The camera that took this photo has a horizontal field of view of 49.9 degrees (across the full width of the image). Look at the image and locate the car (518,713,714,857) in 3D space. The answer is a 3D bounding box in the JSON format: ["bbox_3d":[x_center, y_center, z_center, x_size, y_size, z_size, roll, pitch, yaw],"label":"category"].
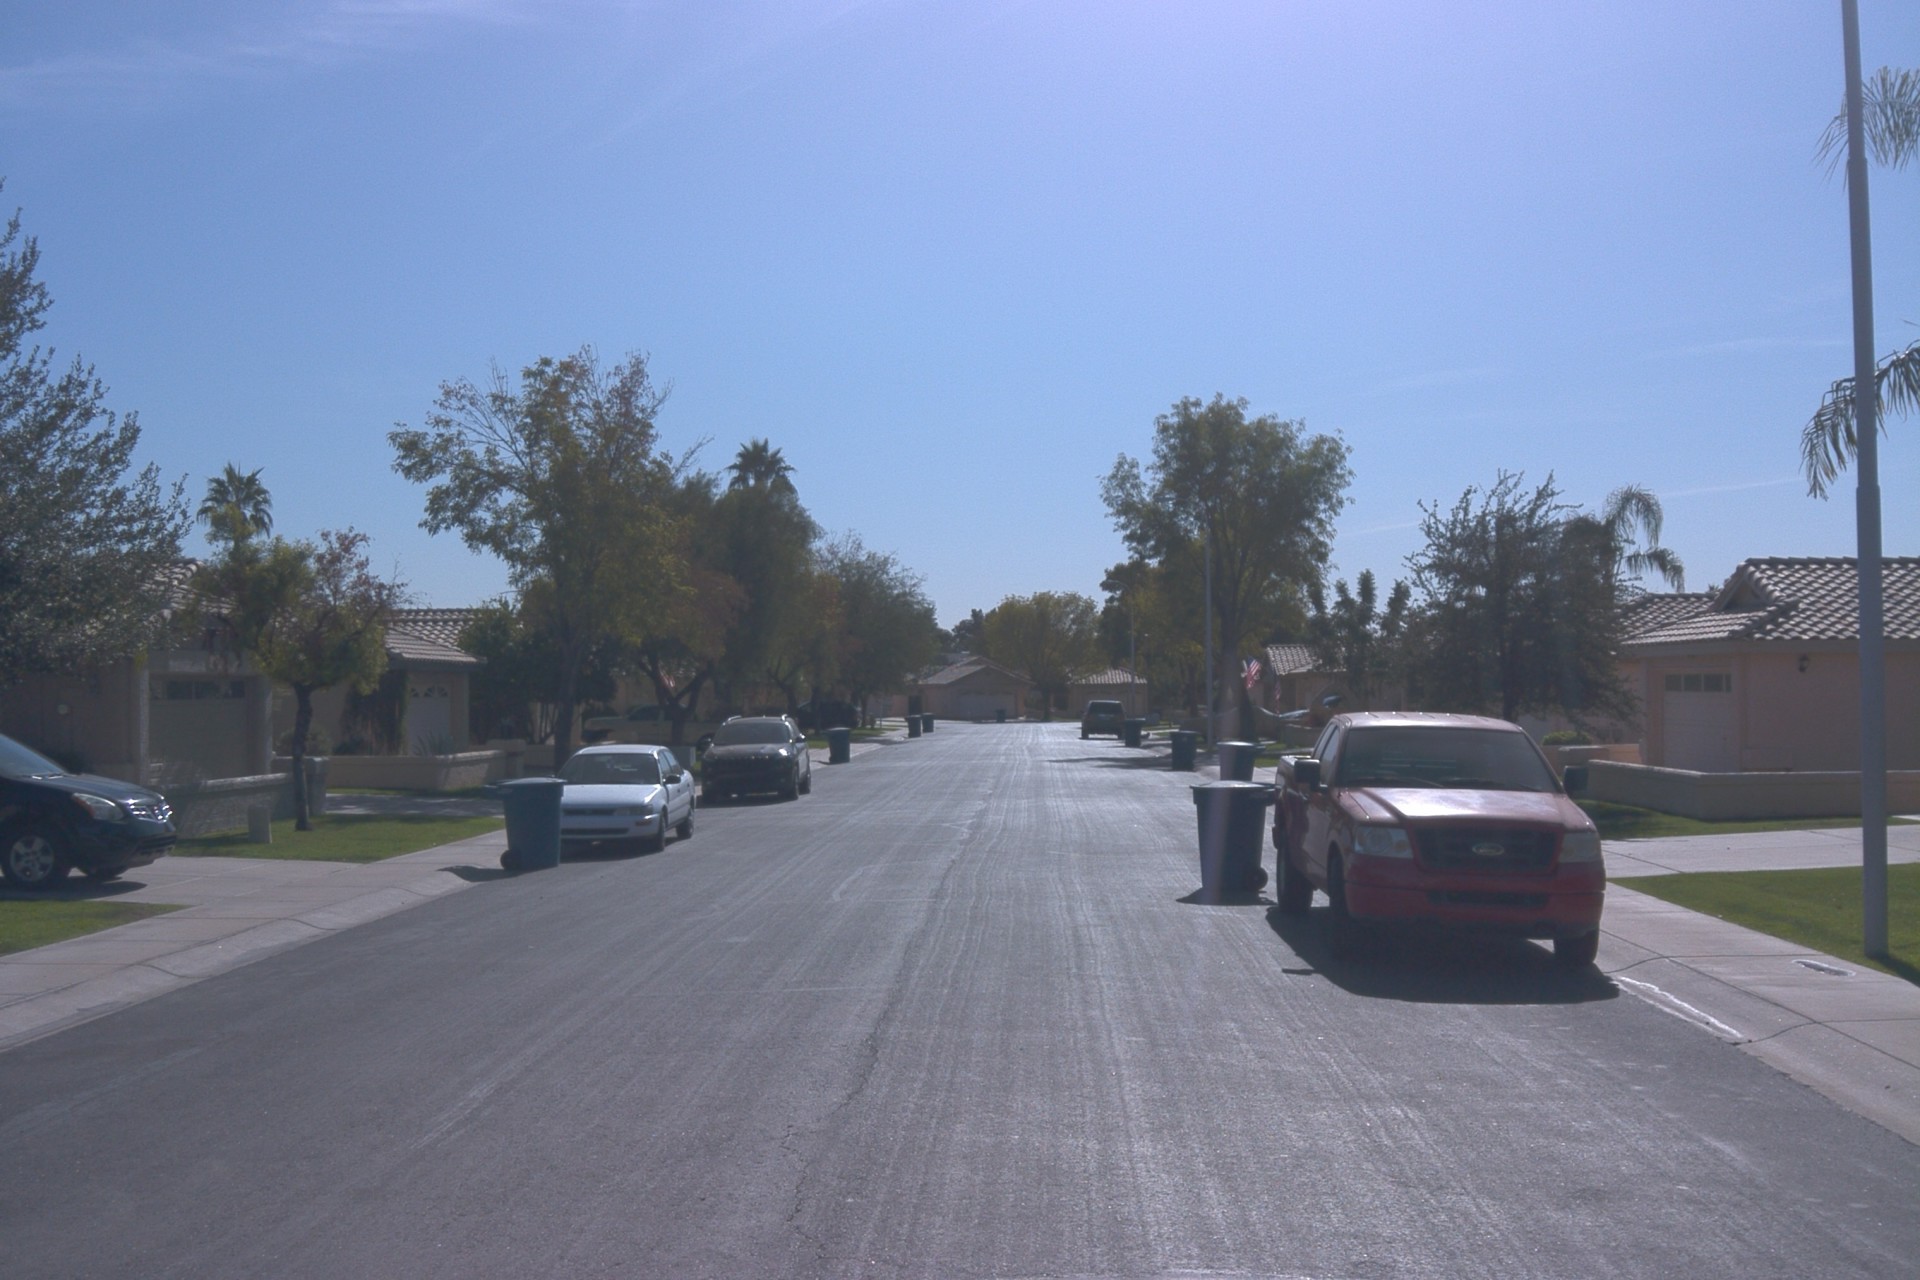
[{"bbox_3d":[-4.642,1.922,28.418,1.887,1.690,4.364,0,0,1],"label":"car"}]

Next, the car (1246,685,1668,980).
[{"bbox_3d":[3.883,1.415,17.286,2.439,1.980,5.478,0,0,3],"label":"car"}]
